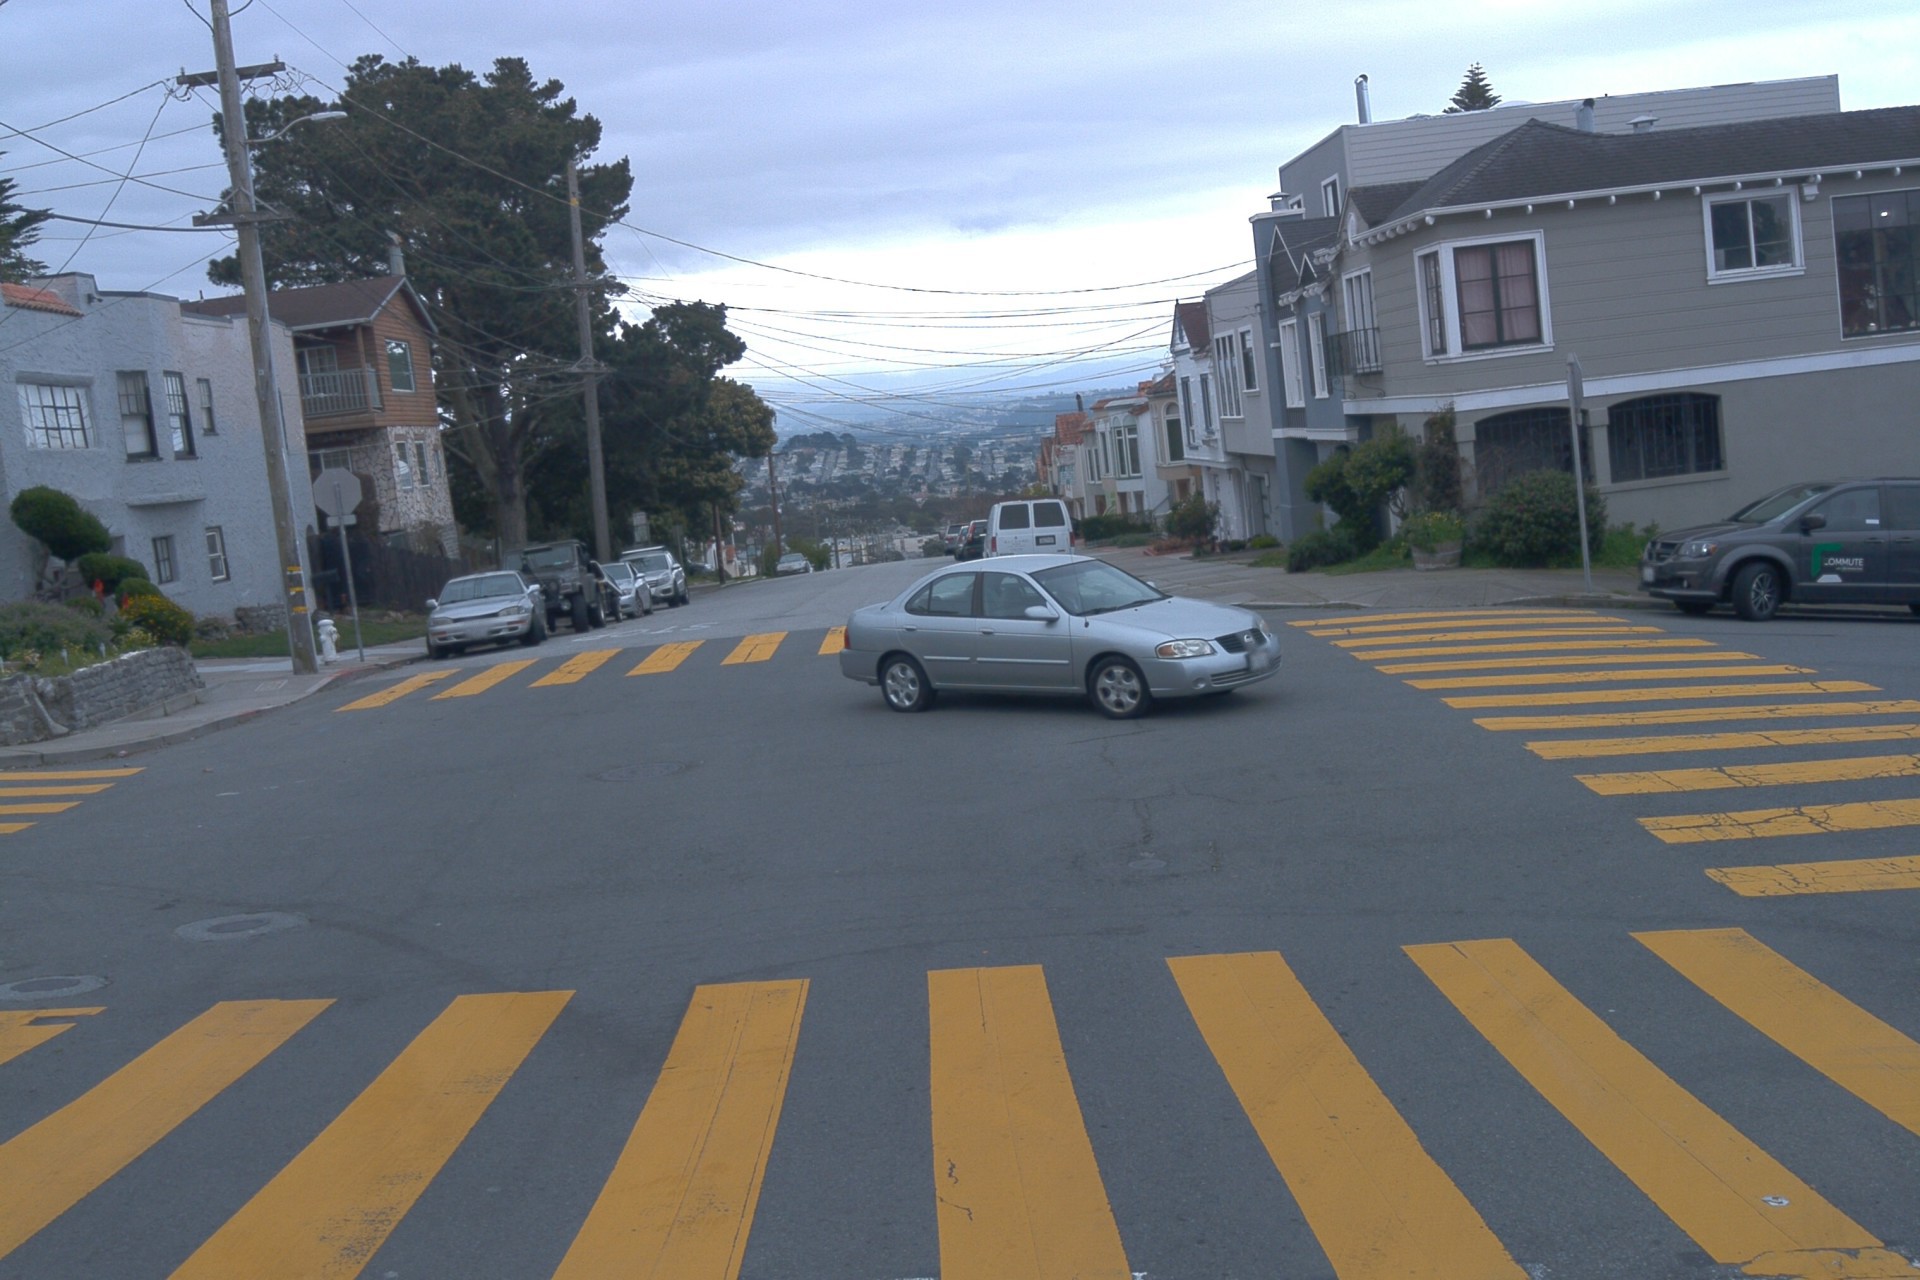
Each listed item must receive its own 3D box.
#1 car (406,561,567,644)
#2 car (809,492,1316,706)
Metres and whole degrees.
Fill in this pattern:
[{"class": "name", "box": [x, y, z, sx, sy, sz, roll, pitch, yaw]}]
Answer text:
[{"class": "car", "box": [-8.215, -0.612, 36.140, 2.106, 1.370, 4.642, 0, 0, -5]}, {"class": "car", "box": [0.882, -0.343, 19.547, 4.532, 1.800, 2.008, 0, 0, 41]}]
